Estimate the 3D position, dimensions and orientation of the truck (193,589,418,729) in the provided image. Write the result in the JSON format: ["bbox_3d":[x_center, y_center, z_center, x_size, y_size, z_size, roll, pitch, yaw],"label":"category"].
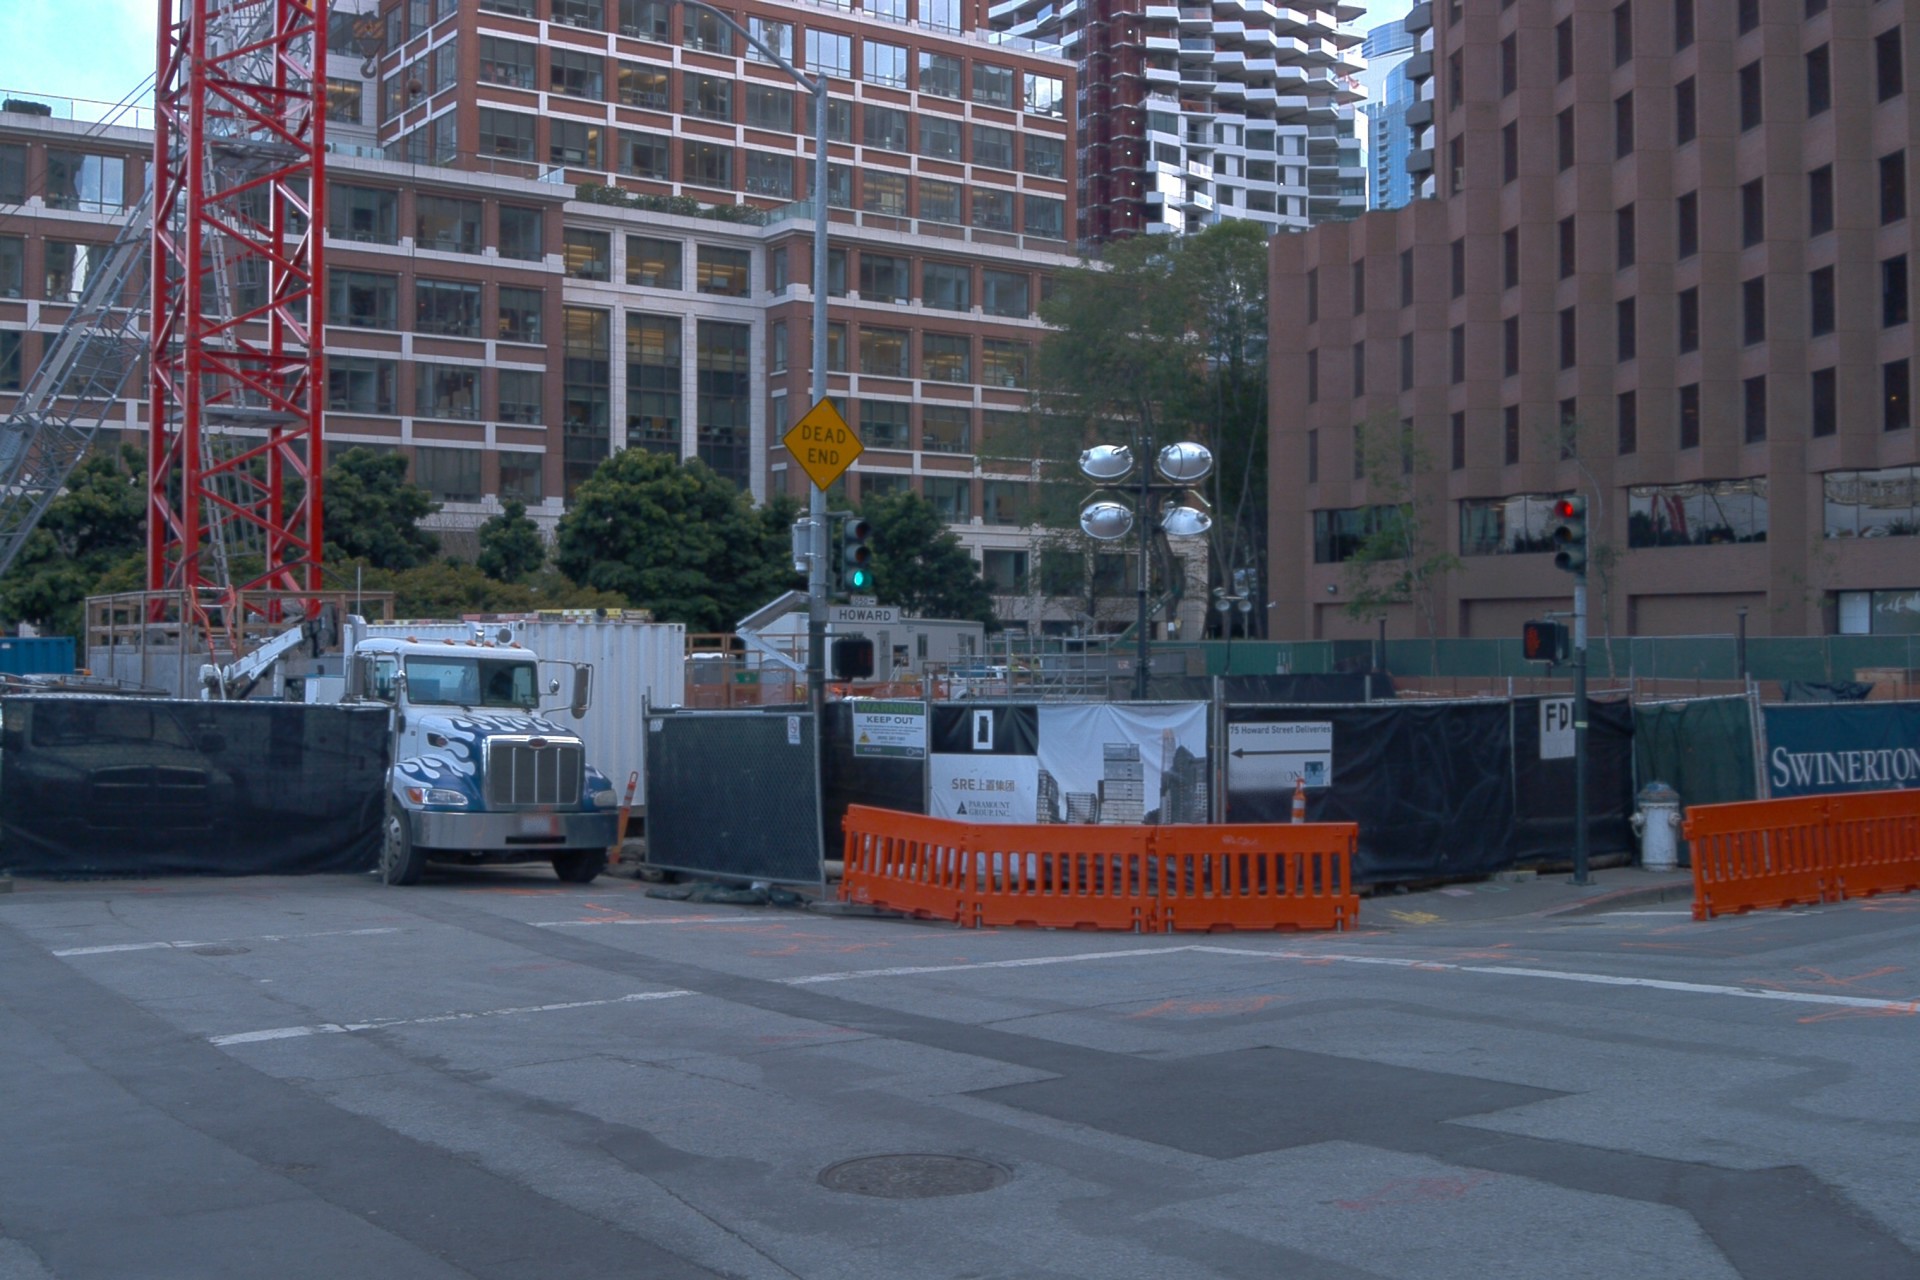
[{"bbox_3d":[-7.927,0.192,24.566,1.127,1.550,4.267,0,0,-38],"label":"truck"}]

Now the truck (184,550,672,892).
[{"bbox_3d":[-6.444,0.775,23.893,2.982,3.380,7.061,0,0,-37],"label":"truck"}]
